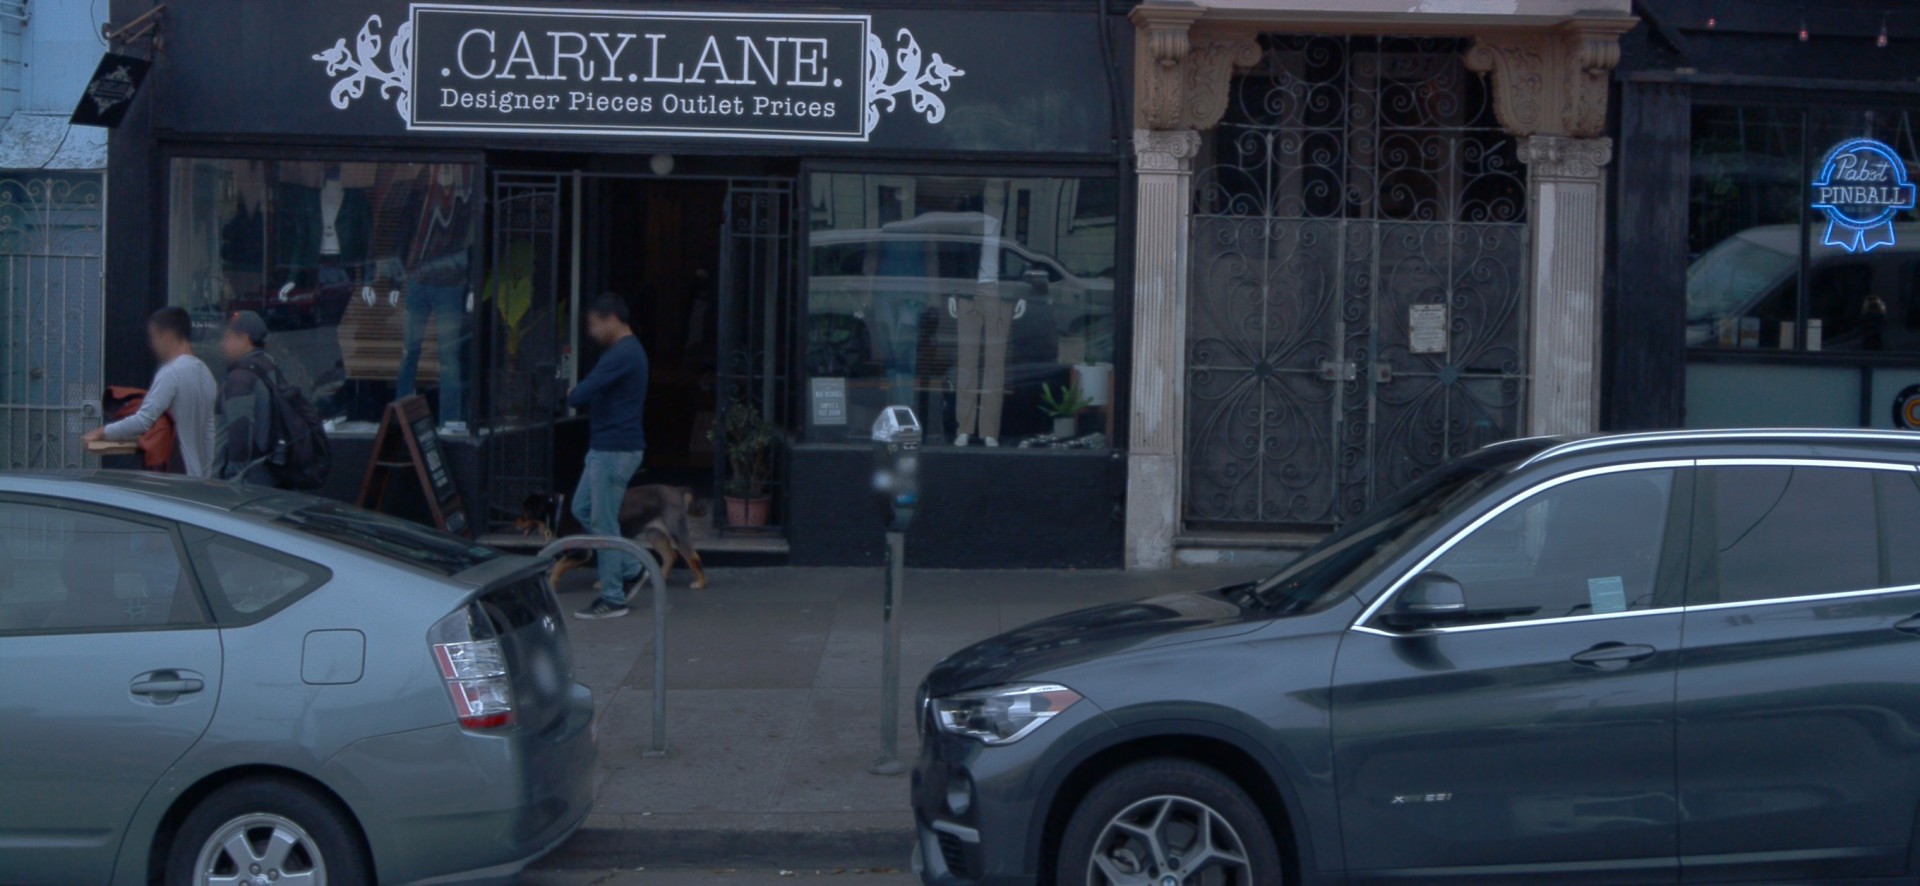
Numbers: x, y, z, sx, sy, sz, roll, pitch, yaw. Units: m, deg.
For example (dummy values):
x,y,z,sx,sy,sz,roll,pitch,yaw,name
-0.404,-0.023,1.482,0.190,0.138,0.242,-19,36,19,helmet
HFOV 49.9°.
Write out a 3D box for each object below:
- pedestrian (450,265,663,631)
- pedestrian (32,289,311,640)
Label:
x,y,z,sx,sy,sz,roll,pitch,yaw,name
-2.135,-0.009,11.021,0.942,1.847,0.866,0,2,1,pedestrian
-4.104,0.076,10.812,1.102,1.727,0.861,0,2,1,pedestrian
